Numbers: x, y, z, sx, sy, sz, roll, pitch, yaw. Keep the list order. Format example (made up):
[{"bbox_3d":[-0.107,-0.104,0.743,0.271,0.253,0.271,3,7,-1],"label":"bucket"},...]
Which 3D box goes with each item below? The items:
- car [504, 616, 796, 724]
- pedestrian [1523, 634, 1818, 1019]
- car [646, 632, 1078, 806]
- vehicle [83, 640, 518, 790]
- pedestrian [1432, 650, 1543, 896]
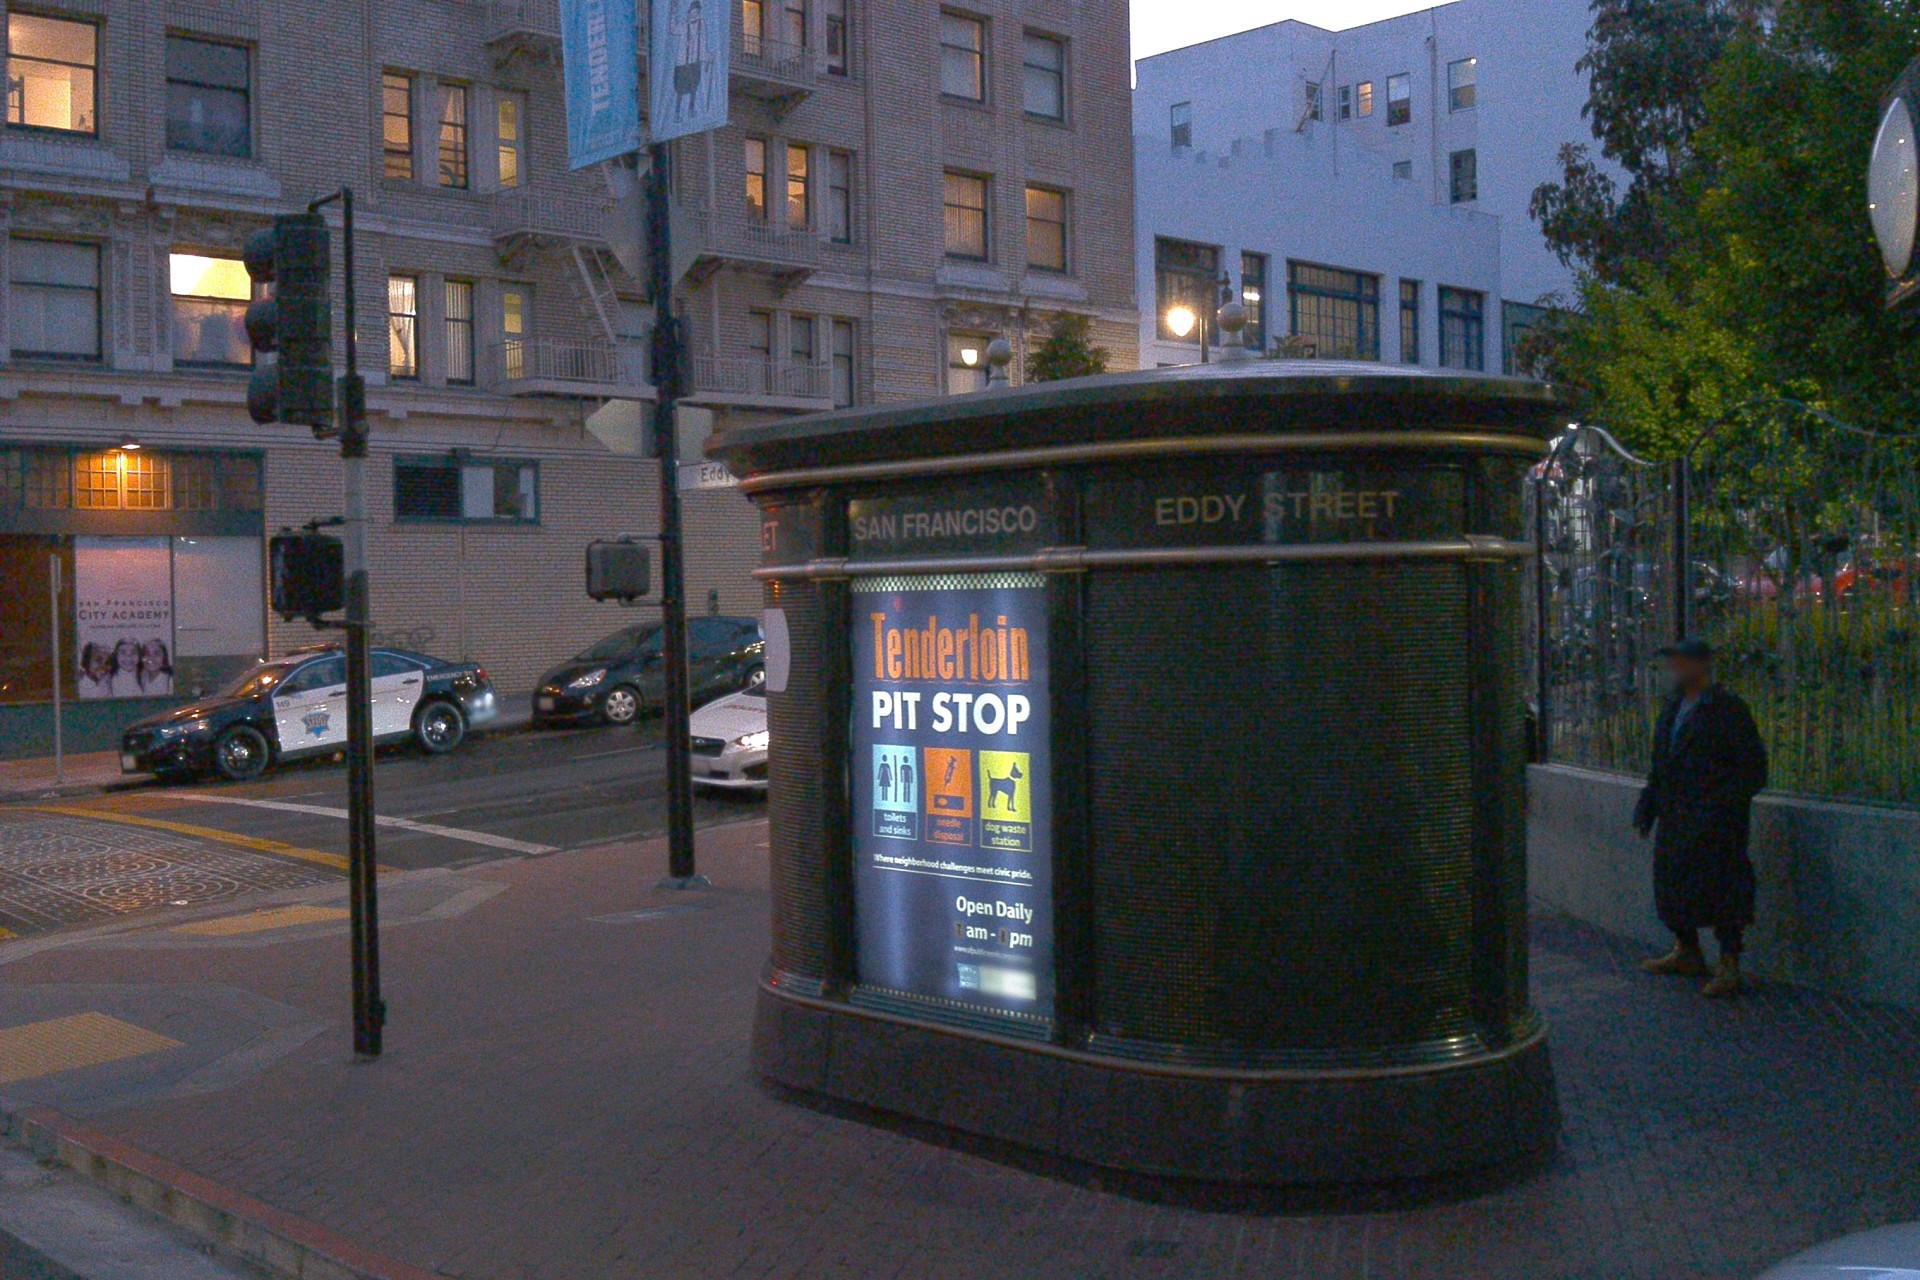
[{"bbox_3d":[-4.658,0.405,31.389,3.987,1.540,1.958,-1,1,-44],"label":"car"},{"bbox_3d":[3.606,0.894,10.552,1.004,1.840,1.014,0,1,-17],"label":"pedestrian"},{"bbox_3d":[-0.971,0.756,22.276,4.434,1.670,1.945,-1,1,-43],"label":"car"},{"bbox_3d":[-8.642,0.903,27.413,2.095,1.750,5.105,1,1,44],"label":"vehicle"},{"bbox_3d":[3.463,0.857,13.583,0.606,1.570,0.595,0,1,4],"label":"pedestrian"}]
